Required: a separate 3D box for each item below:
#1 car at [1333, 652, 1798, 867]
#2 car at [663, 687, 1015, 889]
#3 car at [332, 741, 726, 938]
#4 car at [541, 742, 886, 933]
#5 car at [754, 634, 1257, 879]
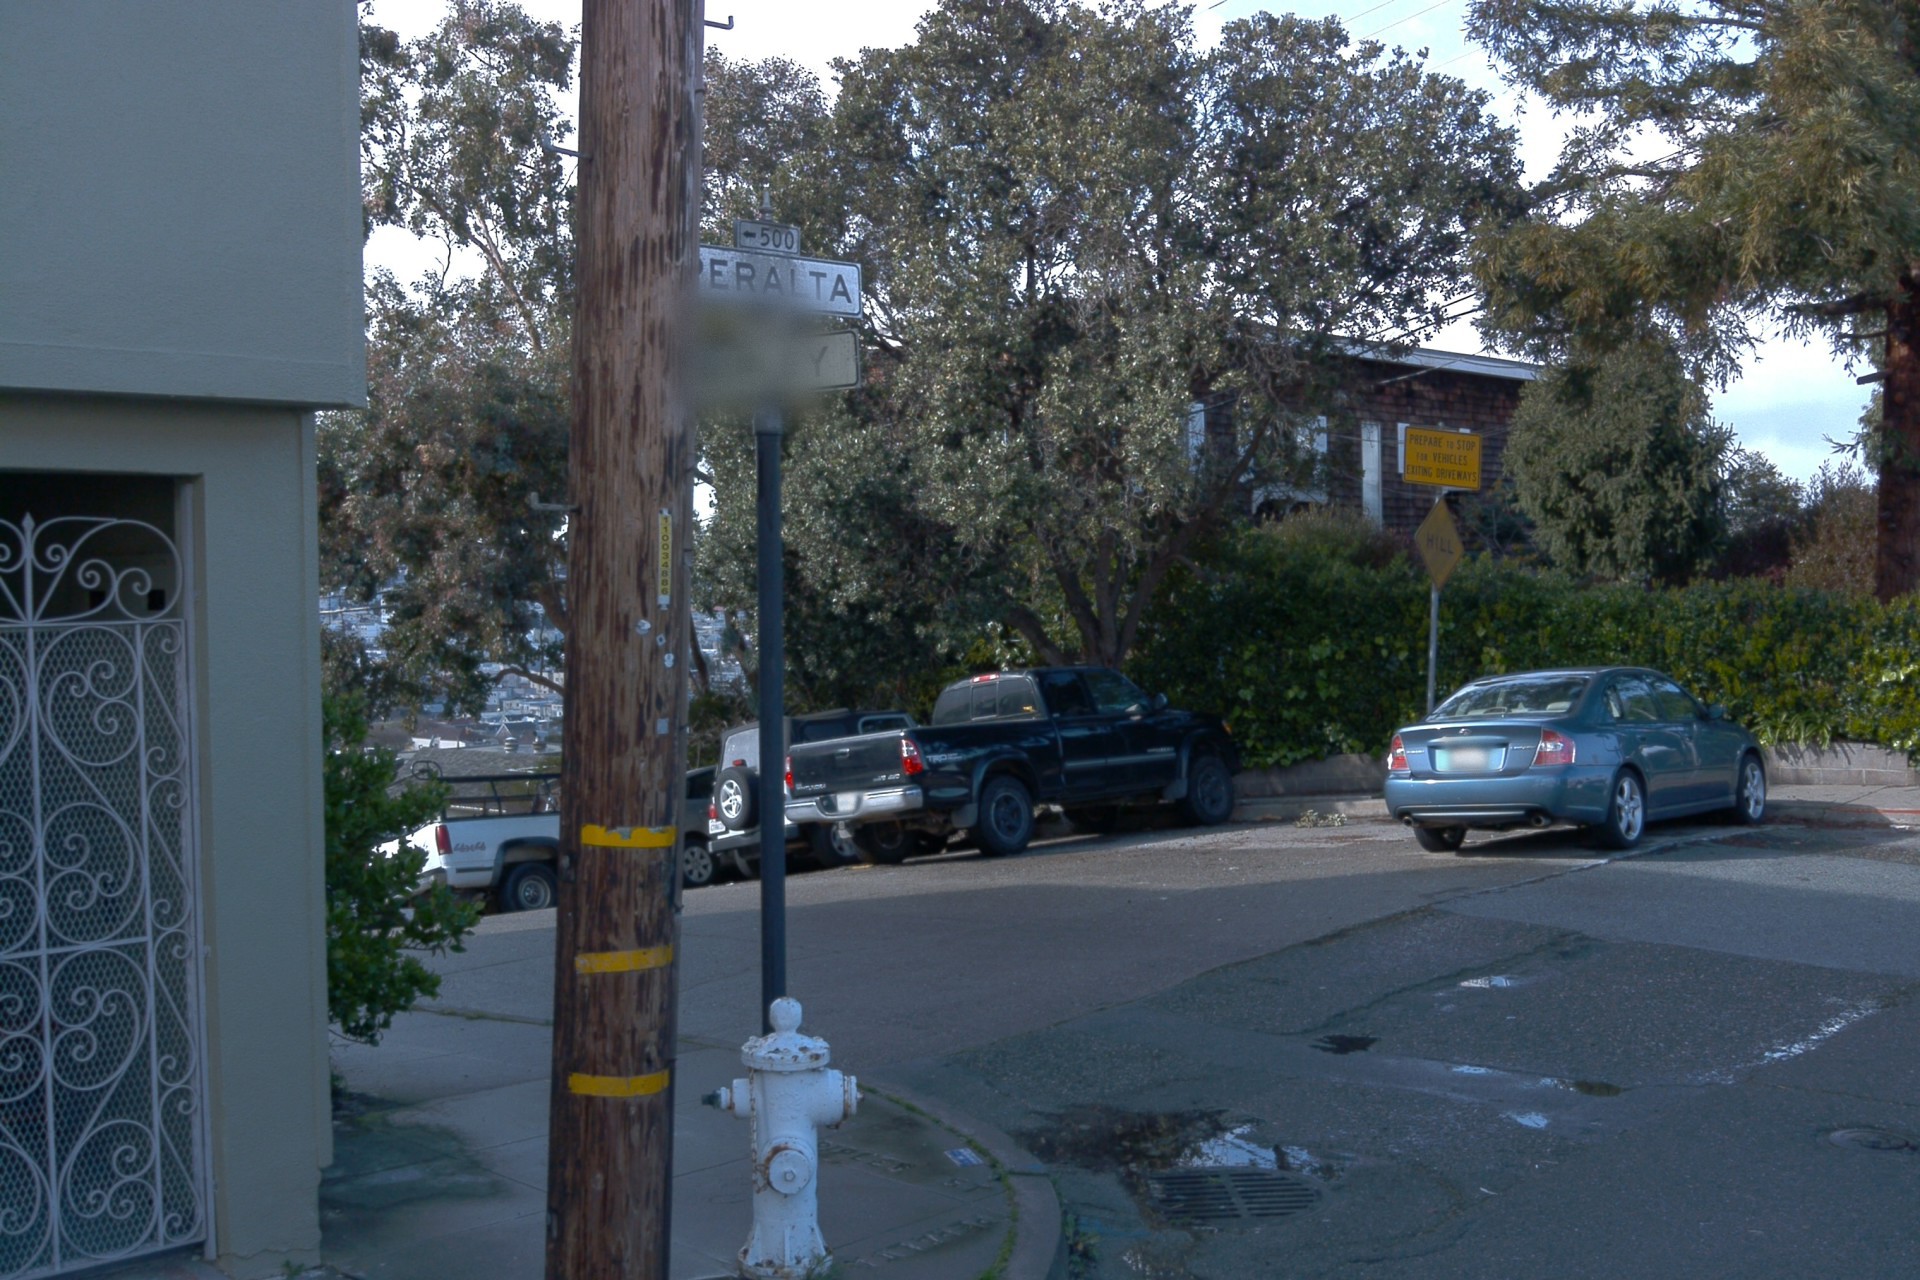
[{"bbox_3d":[5.104,0.862,16.925,1.903,1.450,4.521,1,1,42],"label":"car"},{"bbox_3d":[-1.329,1.606,23.639,3.837,2.000,1.720,0,1,-44],"label":"car"},{"bbox_3d":[-5.371,2.411,25.984,2.275,1.990,4.328,1,1,45],"label":"car"},{"bbox_3d":[-2.906,2.285,24.754,3.842,1.880,1.735,0,1,-44],"label":"car"},{"bbox_3d":[0.624,1.049,21.318,2.073,2.190,5.451,1,1,43],"label":"car"}]
